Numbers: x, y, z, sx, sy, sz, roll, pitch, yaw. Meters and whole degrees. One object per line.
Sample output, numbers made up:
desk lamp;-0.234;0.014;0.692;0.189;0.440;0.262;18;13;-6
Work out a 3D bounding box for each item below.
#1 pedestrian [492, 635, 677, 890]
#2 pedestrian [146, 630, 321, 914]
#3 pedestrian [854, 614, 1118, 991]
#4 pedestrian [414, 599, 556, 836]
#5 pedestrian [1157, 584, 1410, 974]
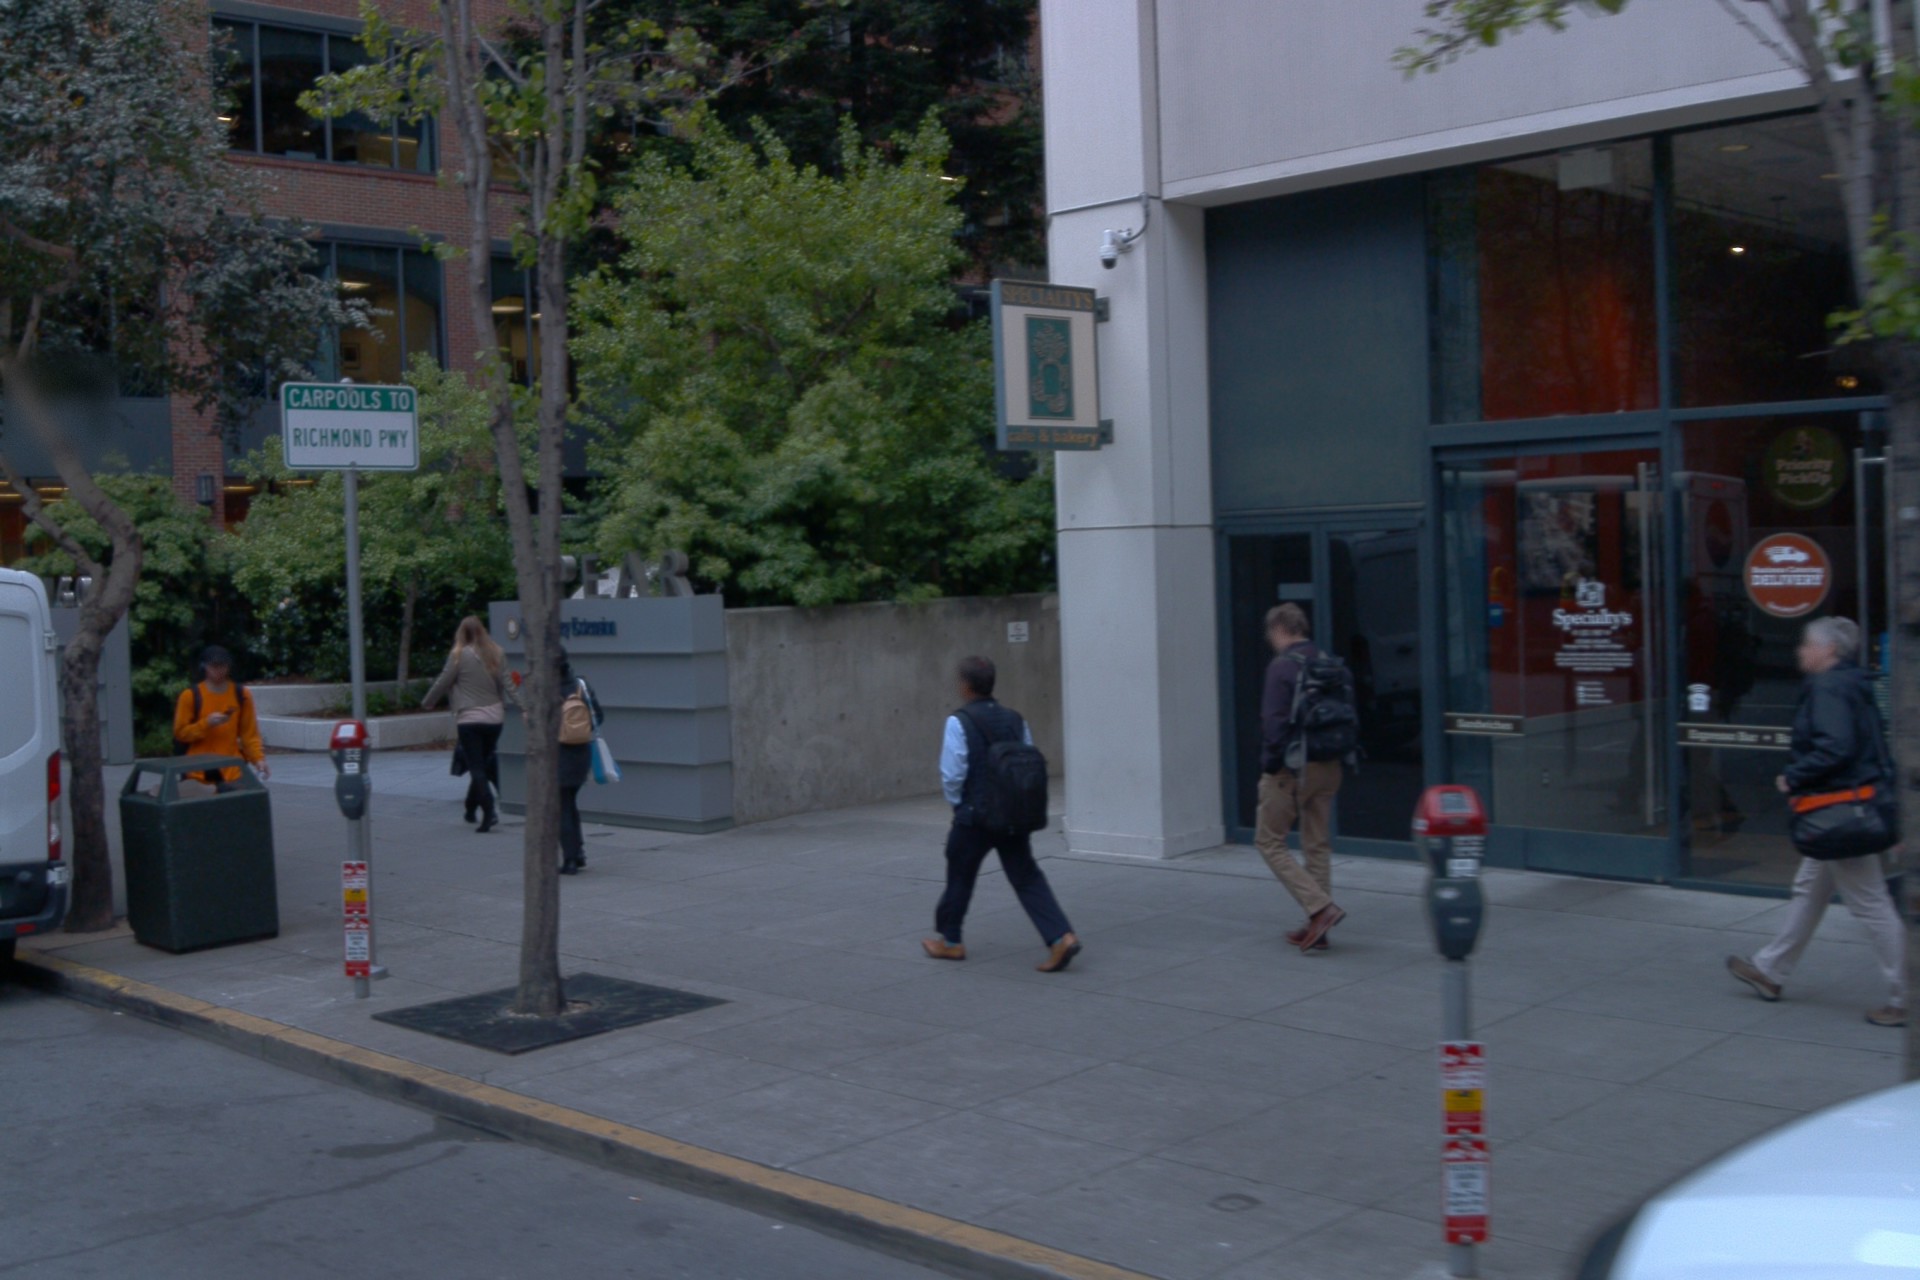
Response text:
pedestrian;-2.604;0.805;14.232;0.935;1.675;0.950;0;0;-36
pedestrian;-4.975;0.857;14.065;0.874;1.850;0.982;0;0;-36
pedestrian;0.127;0.772;10.519;0.888;1.804;1.024;0;0;-42
pedestrian;-3.925;0.607;16.957;0.882;1.877;1.015;0;0;-30
pedestrian;1.648;0.662;10.500;0.794;1.873;0.992;0;0;-45
